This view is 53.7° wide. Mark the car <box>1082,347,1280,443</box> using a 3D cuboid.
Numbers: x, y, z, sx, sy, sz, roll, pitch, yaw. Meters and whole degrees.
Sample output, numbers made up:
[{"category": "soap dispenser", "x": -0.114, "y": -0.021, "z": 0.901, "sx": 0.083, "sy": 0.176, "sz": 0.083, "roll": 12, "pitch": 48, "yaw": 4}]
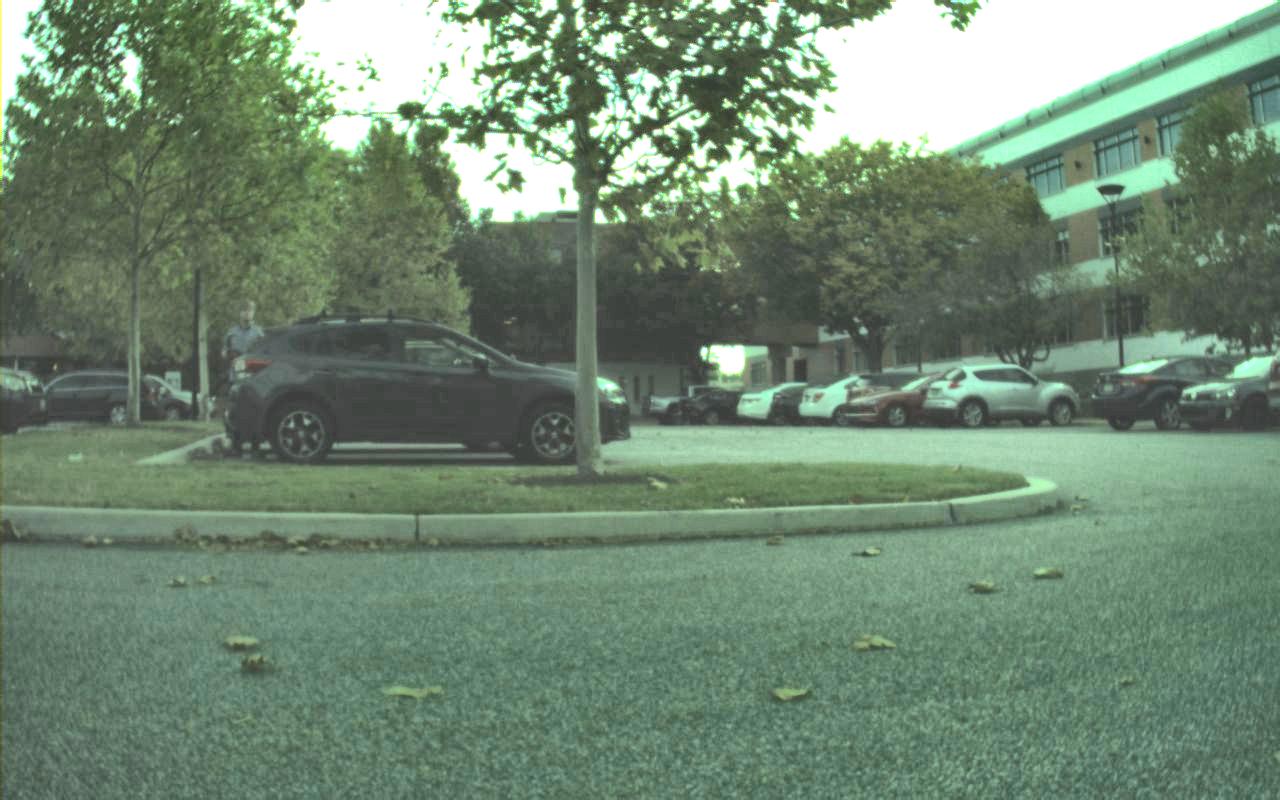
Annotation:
[{"category": "car", "x": 10.831, "y": -0.074, "z": 22.256, "sx": 4.604, "sy": 1.689, "sz": 1.996, "roll": 0, "pitch": 1, "yaw": -11}]

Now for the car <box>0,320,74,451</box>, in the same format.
[{"category": "car", "x": -10.152, "y": -0.177, "z": 14.864, "sx": 4.569, "sy": 1.660, "sz": 1.990, "roll": 0, "pitch": 1, "yaw": -9}]

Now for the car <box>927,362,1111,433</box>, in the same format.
[{"category": "car", "x": 9.313, "y": -0.065, "z": 29.924, "sx": 4.261, "sy": 1.639, "sz": 1.884, "roll": 0, "pitch": 1, "yaw": -10}]

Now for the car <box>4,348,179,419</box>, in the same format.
[{"category": "car", "x": -14.231, "y": -0.378, "z": 29.852, "sx": 4.655, "sy": 1.736, "sz": 2.014, "roll": 0, "pitch": 1, "yaw": -16}]

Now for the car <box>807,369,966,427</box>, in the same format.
[{"category": "car", "x": 7.456, "y": -0.065, "z": 37.747, "sx": 4.467, "sy": 1.687, "sz": 1.951, "roll": 0, "pitch": 1, "yaw": -10}]

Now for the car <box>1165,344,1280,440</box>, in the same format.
[{"category": "car", "x": 11.535, "y": -0.103, "z": 20.058, "sx": 4.356, "sy": 1.574, "sz": 1.912, "roll": 0, "pitch": 1, "yaw": -10}]

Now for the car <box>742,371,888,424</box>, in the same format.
[{"category": "car", "x": 5.932, "y": -0.089, "z": 42.644, "sx": 4.585, "sy": 1.719, "sz": 1.994, "roll": 0, "pitch": 1, "yaw": -11}]

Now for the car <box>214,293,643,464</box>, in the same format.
[{"category": "car", "x": -2.415, "y": -0.228, "z": 13.668, "sx": 4.525, "sy": 1.726, "sz": 1.950, "roll": 0, "pitch": 1, "yaw": -16}]

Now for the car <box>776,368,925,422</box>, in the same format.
[{"category": "car", "x": 6.759, "y": -0.155, "z": 40.157, "sx": 4.422, "sy": 1.655, "sz": 1.949, "roll": 0, "pitch": 1, "yaw": -11}]

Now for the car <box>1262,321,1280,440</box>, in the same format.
[{"category": "car", "x": 12.227, "y": -0.241, "z": 17.500, "sx": 4.504, "sy": 1.741, "sz": 1.976, "roll": 0, "pitch": 1, "yaw": -15}]

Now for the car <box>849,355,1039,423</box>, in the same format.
[{"category": "car", "x": 7.969, "y": -0.283, "z": 32.399, "sx": 4.677, "sy": 1.687, "sz": 1.995, "roll": 0, "pitch": 1, "yaw": -11}]
